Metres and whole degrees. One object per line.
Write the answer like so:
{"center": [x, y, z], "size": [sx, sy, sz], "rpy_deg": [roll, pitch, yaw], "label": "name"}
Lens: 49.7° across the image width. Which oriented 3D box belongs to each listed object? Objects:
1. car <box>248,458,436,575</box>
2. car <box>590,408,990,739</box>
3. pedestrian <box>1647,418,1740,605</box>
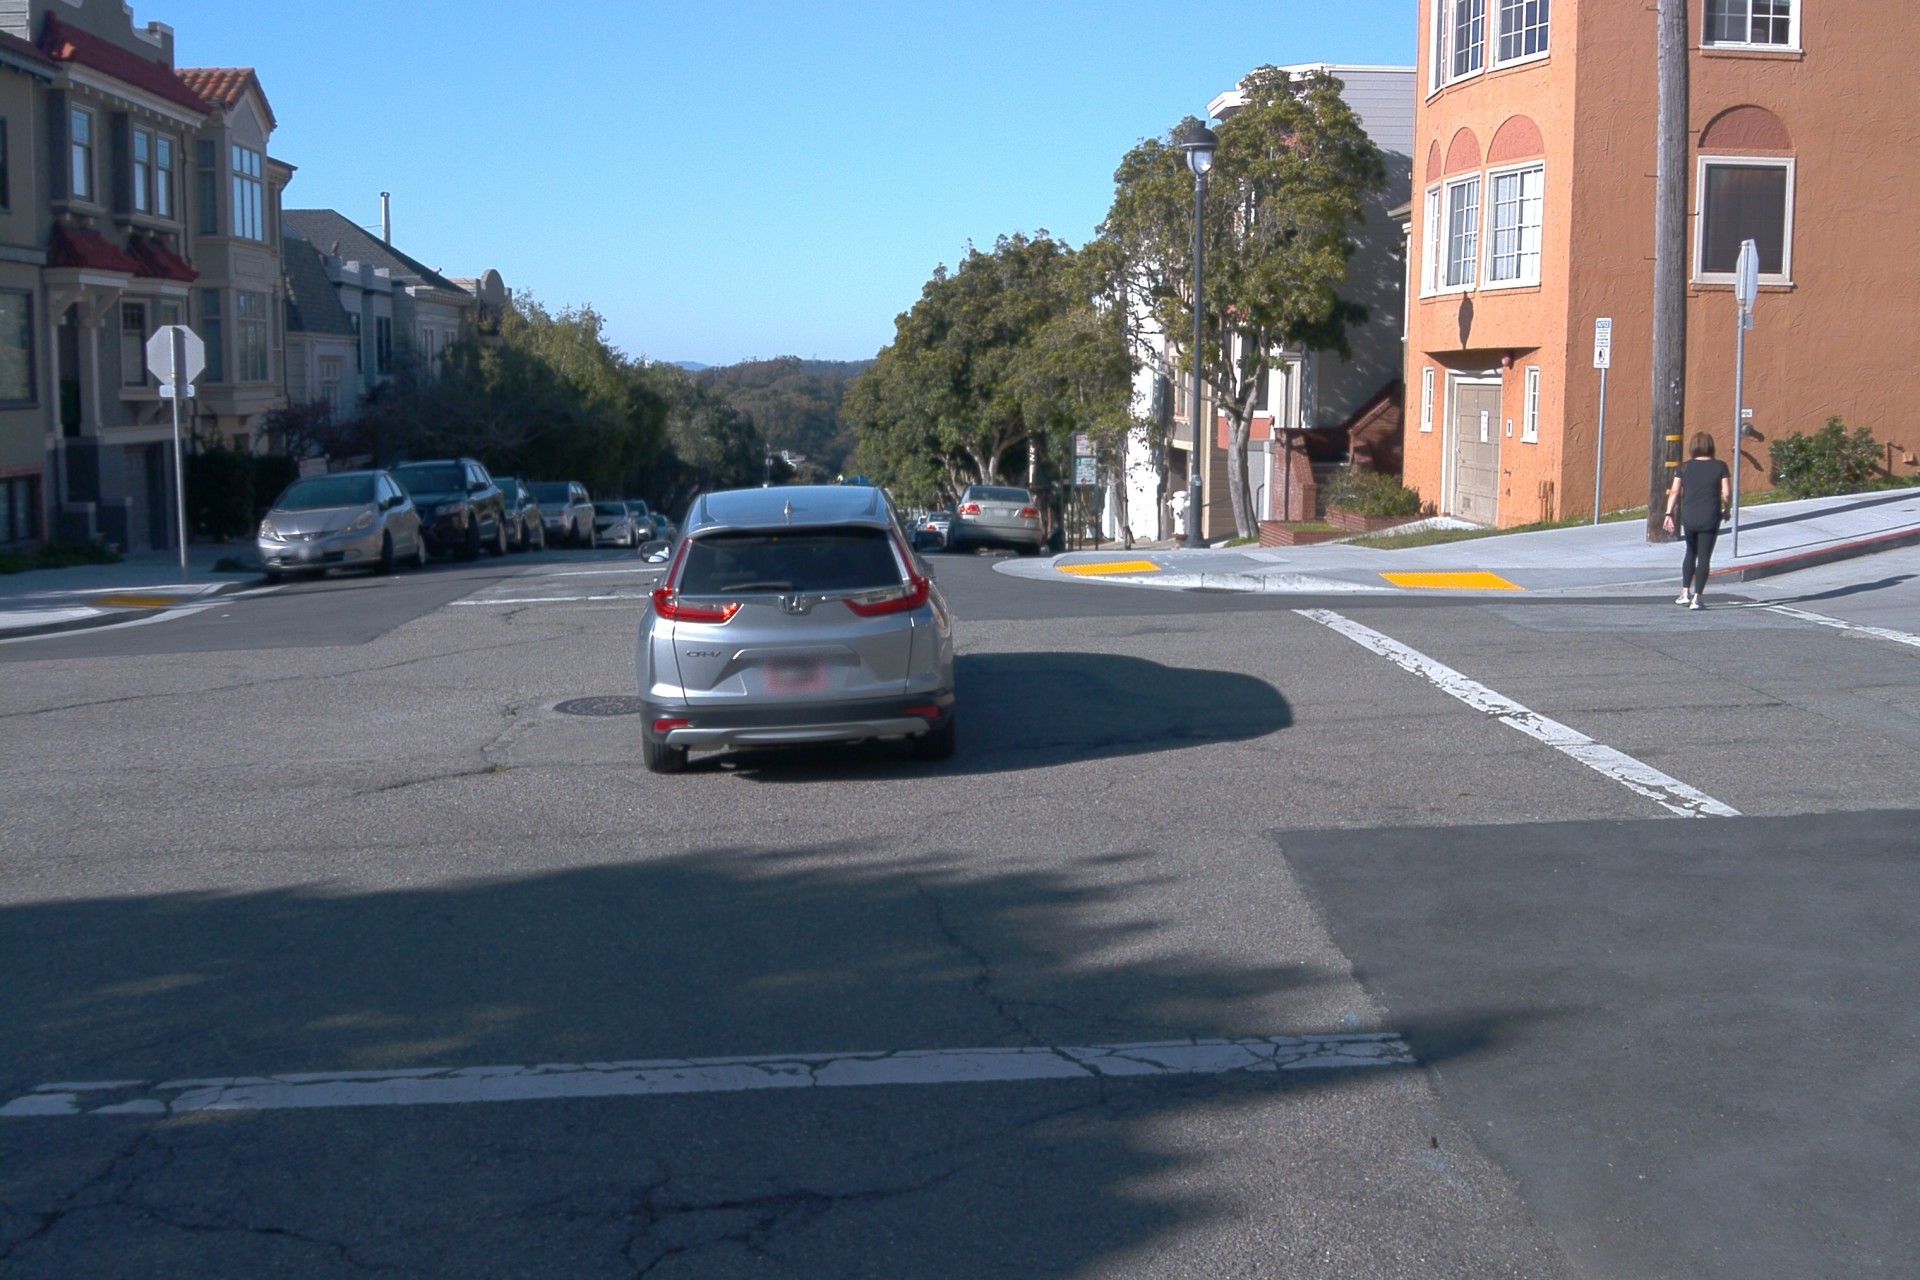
{"center": [-8.653, -1.695, 29.295], "size": [1.715, 1.400, 3.763], "rpy_deg": [0, 0, -3], "label": "car"}
{"center": [-1.096, -0.349, 13.702], "size": [2.190, 1.800, 4.696], "rpy_deg": [0, 0, -4], "label": "car"}
{"center": [6.715, -1.144, 18.938], "size": [0.731, 1.620, 1.128], "rpy_deg": [0, 0, 23], "label": "pedestrian"}
